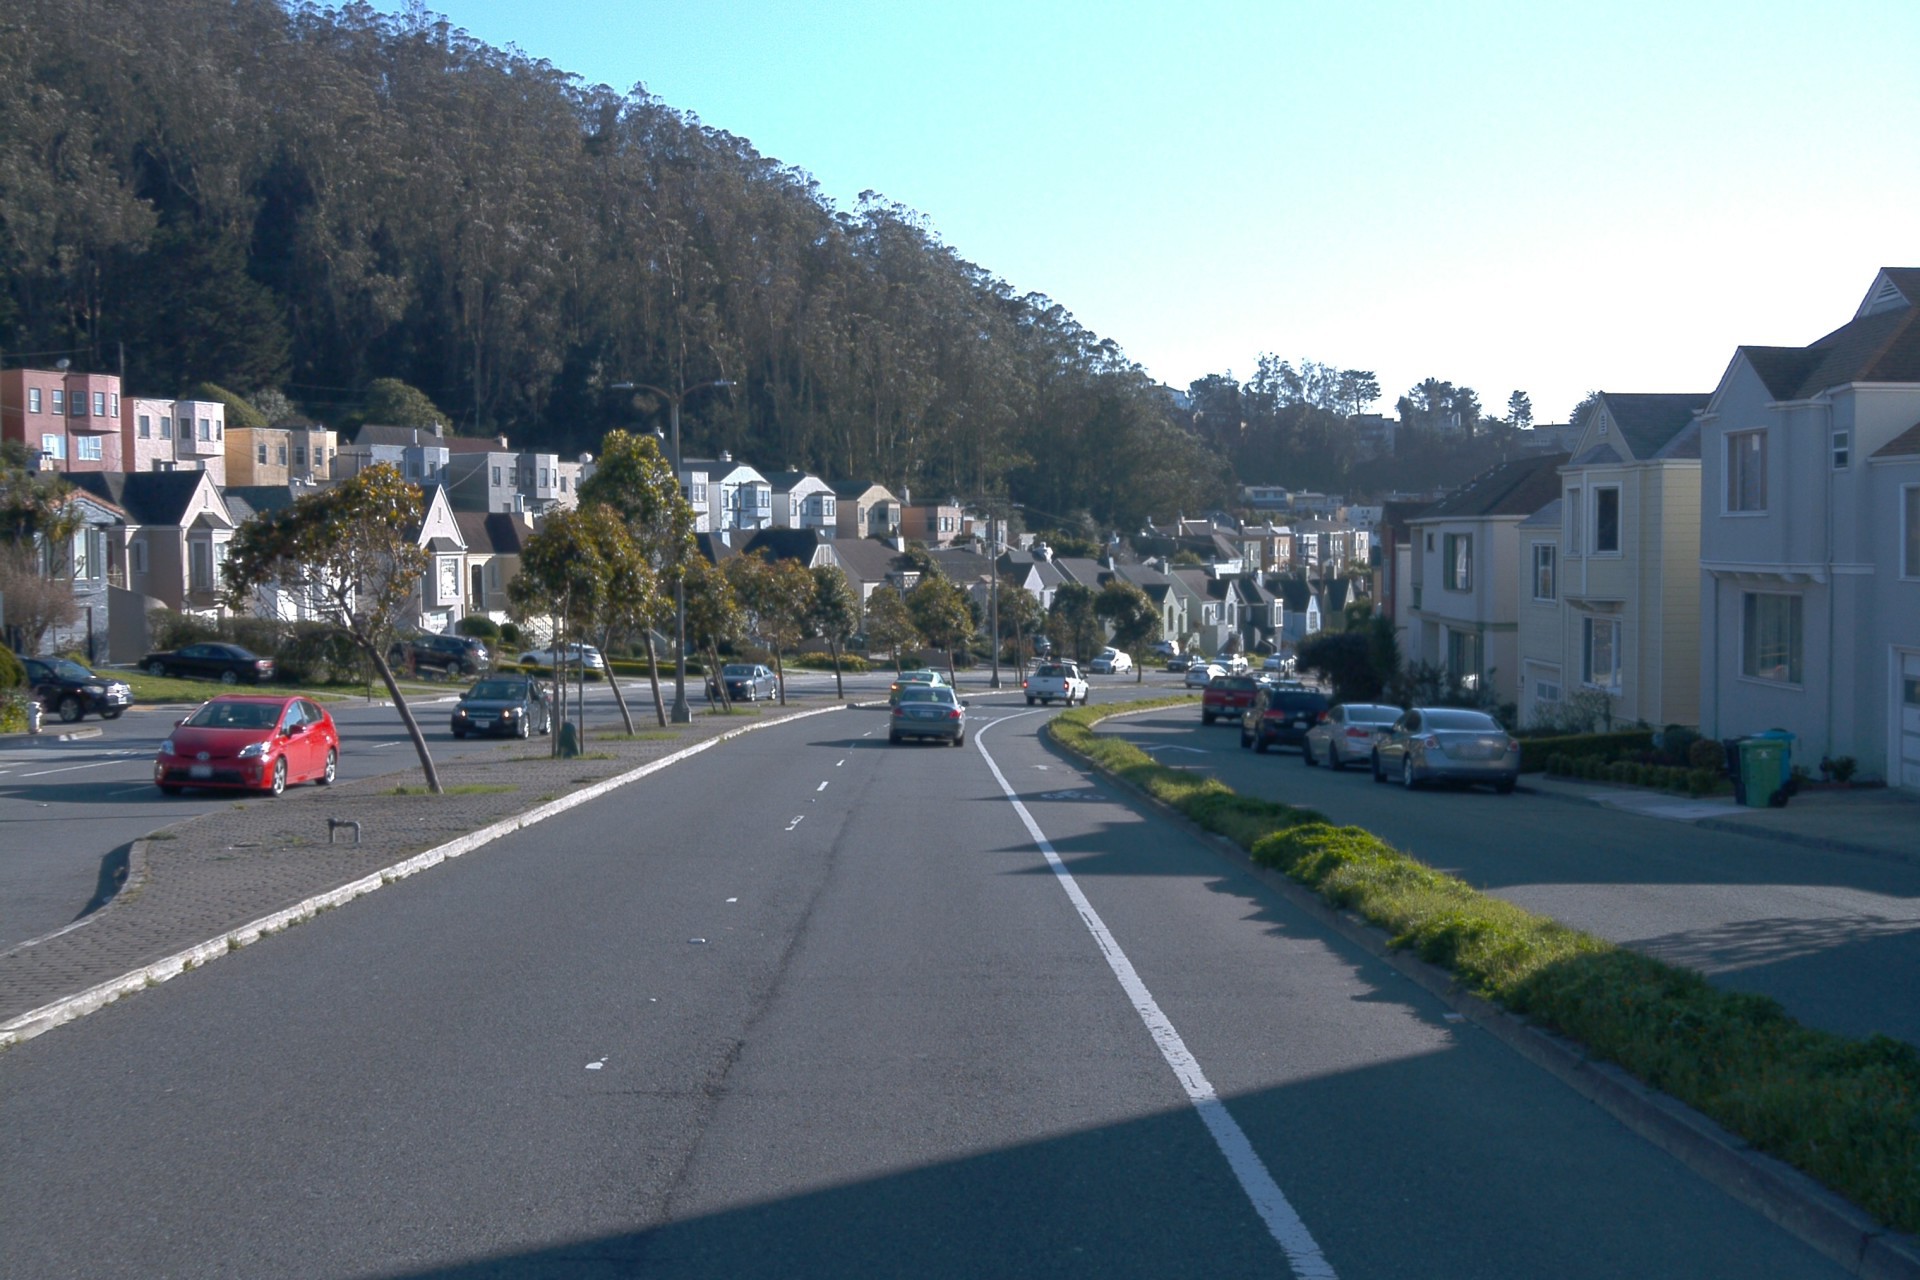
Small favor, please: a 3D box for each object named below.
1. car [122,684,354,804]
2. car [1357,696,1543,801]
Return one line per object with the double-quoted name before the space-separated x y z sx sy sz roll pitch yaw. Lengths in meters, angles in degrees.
"car" -10.895 1.521 31.616 1.996 1.620 4.478 0 0 0
"car" 8.593 1.864 36.757 2.108 1.654 4.735 0 0 -1
